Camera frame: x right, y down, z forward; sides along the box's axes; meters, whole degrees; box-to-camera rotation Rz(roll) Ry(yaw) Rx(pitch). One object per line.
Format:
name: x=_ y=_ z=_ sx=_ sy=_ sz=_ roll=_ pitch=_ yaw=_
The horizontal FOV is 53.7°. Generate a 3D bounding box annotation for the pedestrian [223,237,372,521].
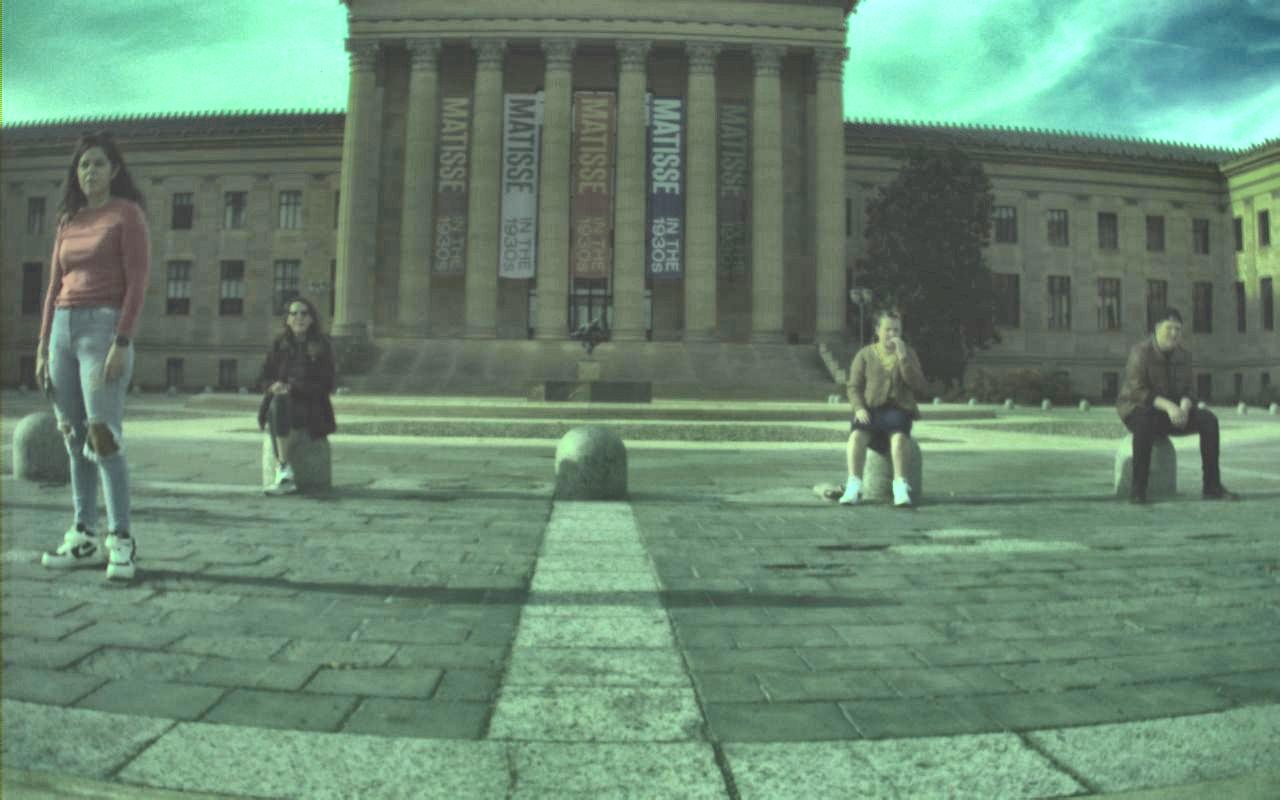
pedestrian: x=-2.174 y=-0.130 z=7.753 sx=0.767 sy=1.706 sz=0.768 roll=0 pitch=0 yaw=3

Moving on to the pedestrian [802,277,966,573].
pedestrian: x=1.539 y=0.148 z=7.922 sx=0.829 sy=1.772 sz=0.826 roll=0 pitch=0 yaw=-6

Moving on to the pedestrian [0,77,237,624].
pedestrian: x=-1.994 y=-0.167 z=4.205 sx=0.765 sy=1.801 sz=0.771 roll=0 pitch=0 yaw=10

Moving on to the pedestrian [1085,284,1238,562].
pedestrian: x=3.486 y=0.157 z=7.851 sx=0.825 sy=1.760 sz=0.836 roll=0 pitch=0 yaw=4
